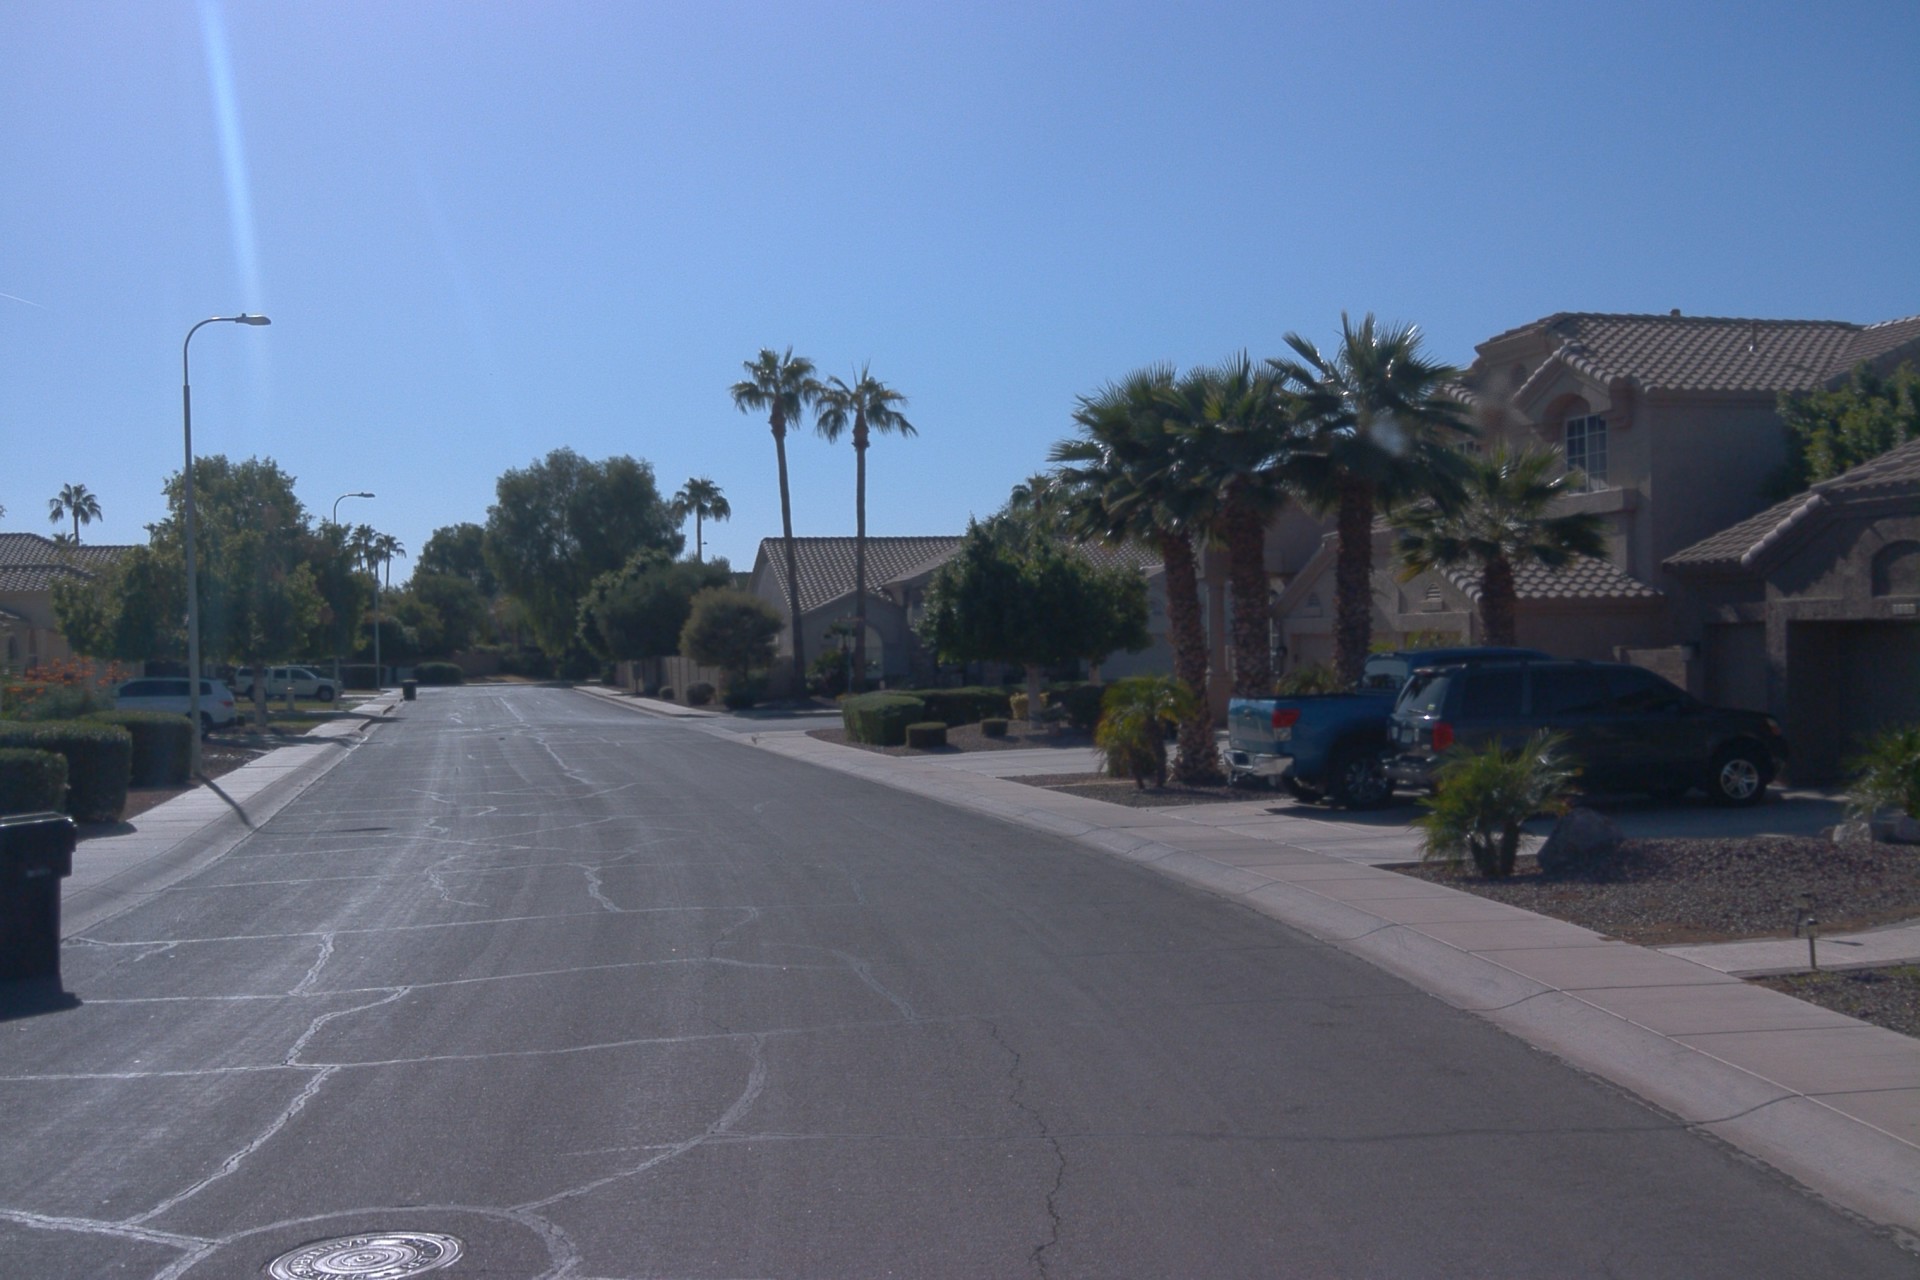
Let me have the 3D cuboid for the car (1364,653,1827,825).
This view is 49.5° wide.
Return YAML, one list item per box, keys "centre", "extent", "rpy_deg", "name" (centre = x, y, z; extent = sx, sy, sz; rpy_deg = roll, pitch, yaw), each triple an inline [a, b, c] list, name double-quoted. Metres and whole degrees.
- centre: [7.321, 1.095, 24.260]
  extent: [4.686, 1.870, 2.137]
  rpy_deg: [0, 0, -10]
  name: "car"

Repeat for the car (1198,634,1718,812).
- centre: [6.331, 1.007, 26.813]
  extent: [6.007, 2.130, 2.494]
  rpy_deg: [0, 0, -12]
  name: "car"
